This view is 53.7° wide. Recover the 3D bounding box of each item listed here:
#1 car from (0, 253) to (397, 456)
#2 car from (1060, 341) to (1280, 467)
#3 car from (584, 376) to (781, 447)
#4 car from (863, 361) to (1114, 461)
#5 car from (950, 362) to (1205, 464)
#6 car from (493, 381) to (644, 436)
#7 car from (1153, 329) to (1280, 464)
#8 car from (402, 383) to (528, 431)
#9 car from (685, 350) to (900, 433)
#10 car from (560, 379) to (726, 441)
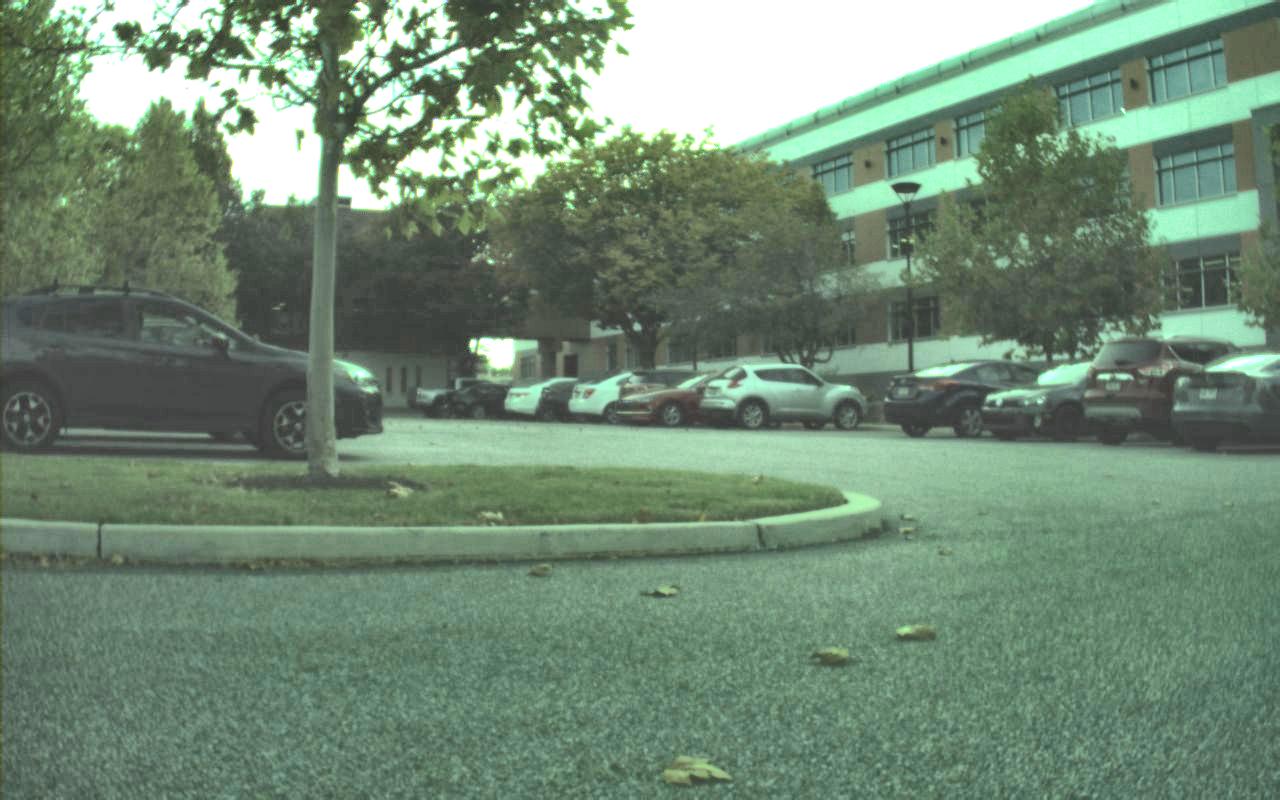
[{"bbox_3d":[-4.781,-0.403,11.537,4.566,1.813,1.971,0,1,-27],"label":"car"},{"bbox_3d":[8.724,0.048,18.091,4.511,1.741,1.973,0,1,-26],"label":"car"},{"bbox_3d":[1.061,0.258,31.742,4.553,1.678,1.957,0,1,-21],"label":"car"},{"bbox_3d":[6.486,0.156,22.478,4.581,1.667,1.976,0,1,-26],"label":"car"},{"bbox_3d":[7.542,0.189,20.459,4.364,1.574,1.909,0,1,-21],"label":"car"},{"bbox_3d":[-2.367,0.244,41.471,4.593,1.719,1.990,0,1,-22],"label":"car"},{"bbox_3d":[9.223,-0.032,15.501,4.488,1.643,1.948,0,1,-22],"label":"car"},{"bbox_3d":[-7.446,0.290,53.110,5.024,1.917,2.092,0,1,-25],"label":"car"},{"bbox_3d":[3.641,-0.230,29.828,4.717,1.842,2.024,0,1,-21],"label":"car"},{"bbox_3d":[0.085,0.265,36.976,4.475,1.687,1.947,0,1,-21],"label":"car"}]
